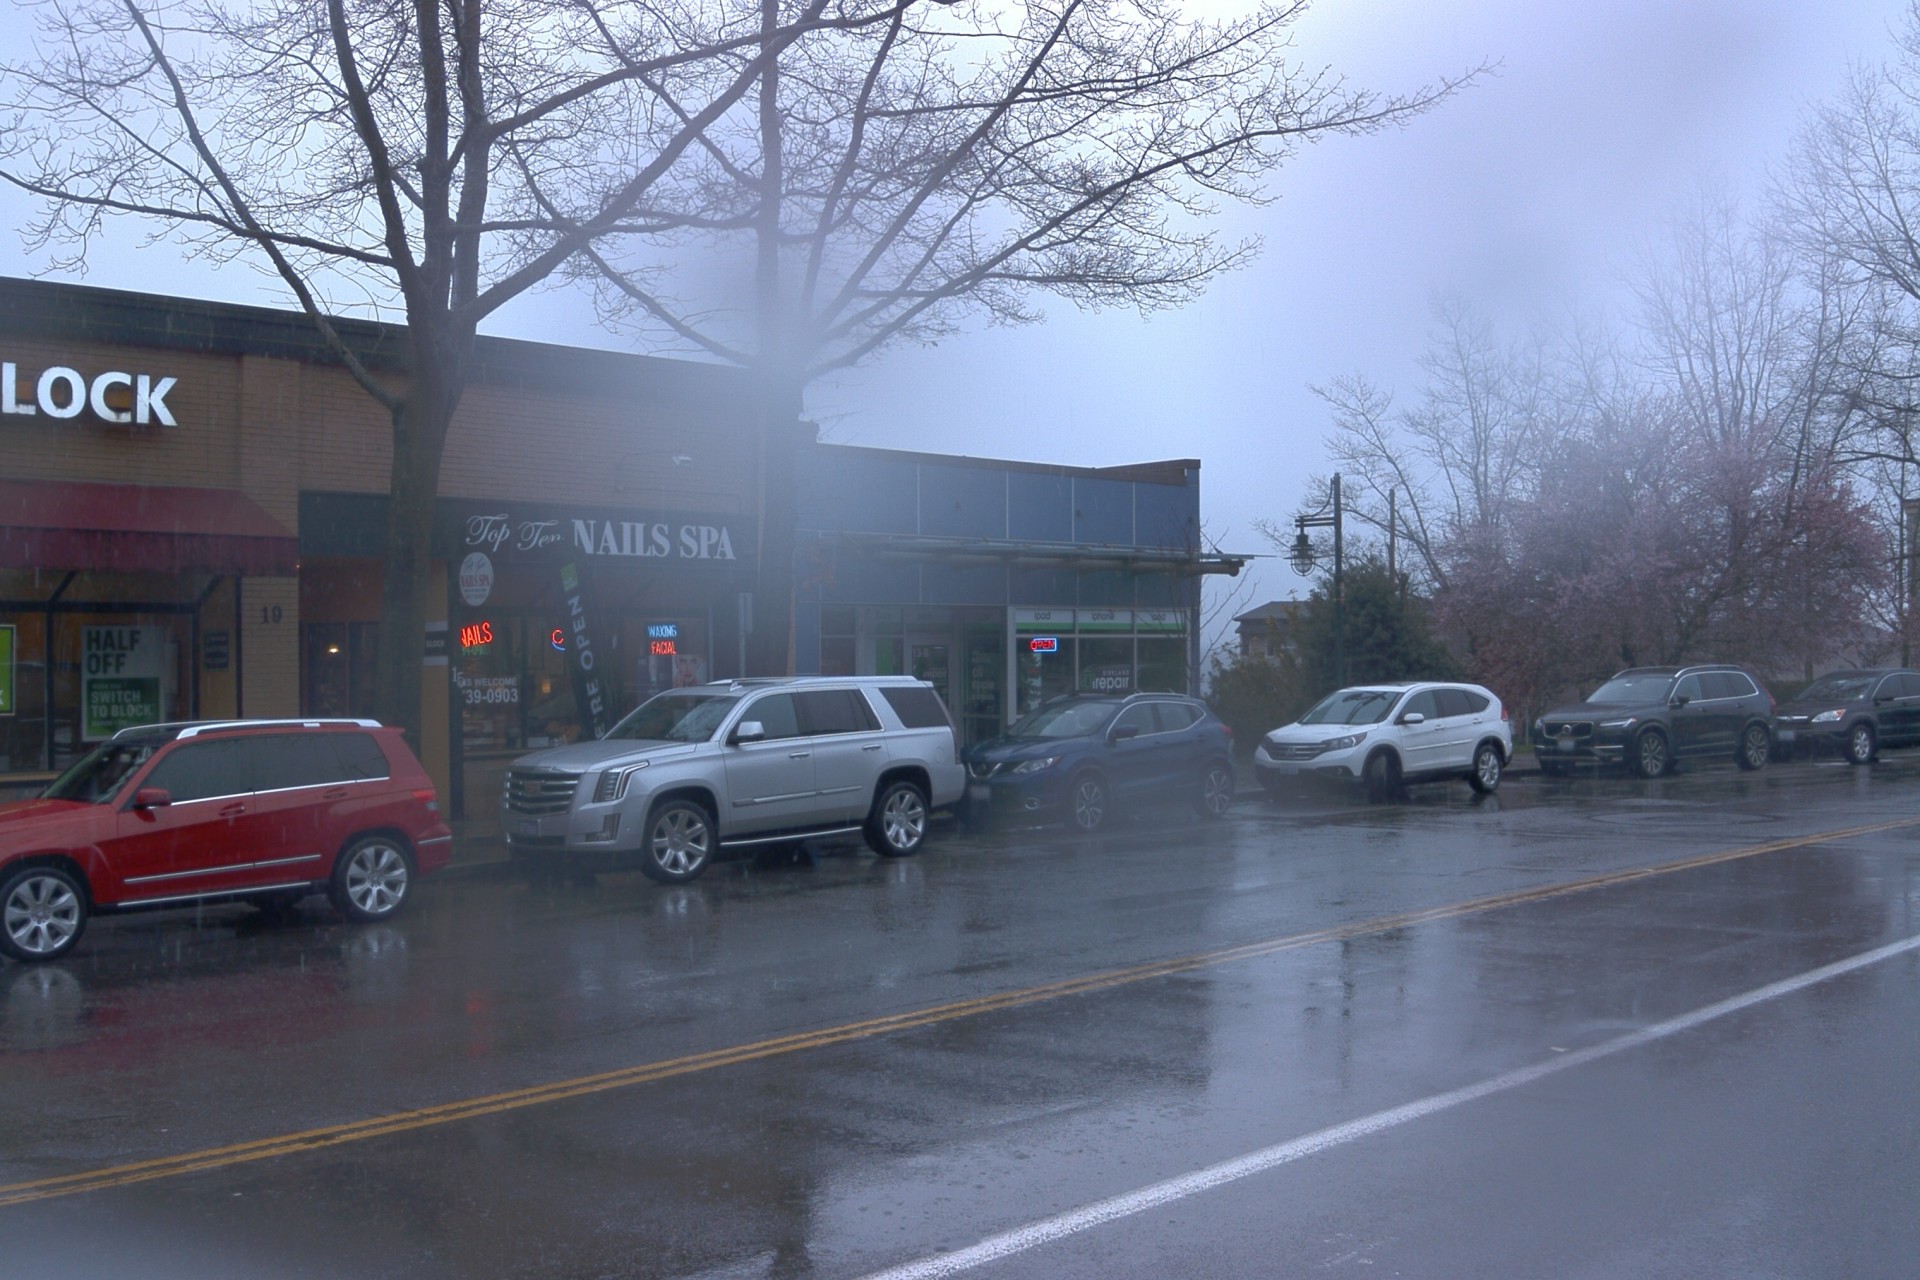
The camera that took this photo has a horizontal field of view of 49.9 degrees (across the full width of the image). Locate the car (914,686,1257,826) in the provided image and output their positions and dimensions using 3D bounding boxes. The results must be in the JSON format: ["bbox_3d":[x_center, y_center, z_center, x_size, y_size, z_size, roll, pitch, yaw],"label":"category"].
[{"bbox_3d":[1.623,1.338,25.280,1.999,1.400,4.335,1,1,40],"label":"car"}]

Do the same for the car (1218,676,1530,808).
[{"bbox_3d":[5.989,1.391,29.590,4.481,1.610,2.181,-1,1,-43],"label":"car"}]

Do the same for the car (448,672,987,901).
[{"bbox_3d":[-2.323,1.343,21.042,2.331,1.890,5.194,1,1,42],"label":"car"}]

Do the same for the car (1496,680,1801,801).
[{"bbox_3d":[11.412,1.587,34.054,5.296,1.690,2.144,-1,1,-37],"label":"car"}]
